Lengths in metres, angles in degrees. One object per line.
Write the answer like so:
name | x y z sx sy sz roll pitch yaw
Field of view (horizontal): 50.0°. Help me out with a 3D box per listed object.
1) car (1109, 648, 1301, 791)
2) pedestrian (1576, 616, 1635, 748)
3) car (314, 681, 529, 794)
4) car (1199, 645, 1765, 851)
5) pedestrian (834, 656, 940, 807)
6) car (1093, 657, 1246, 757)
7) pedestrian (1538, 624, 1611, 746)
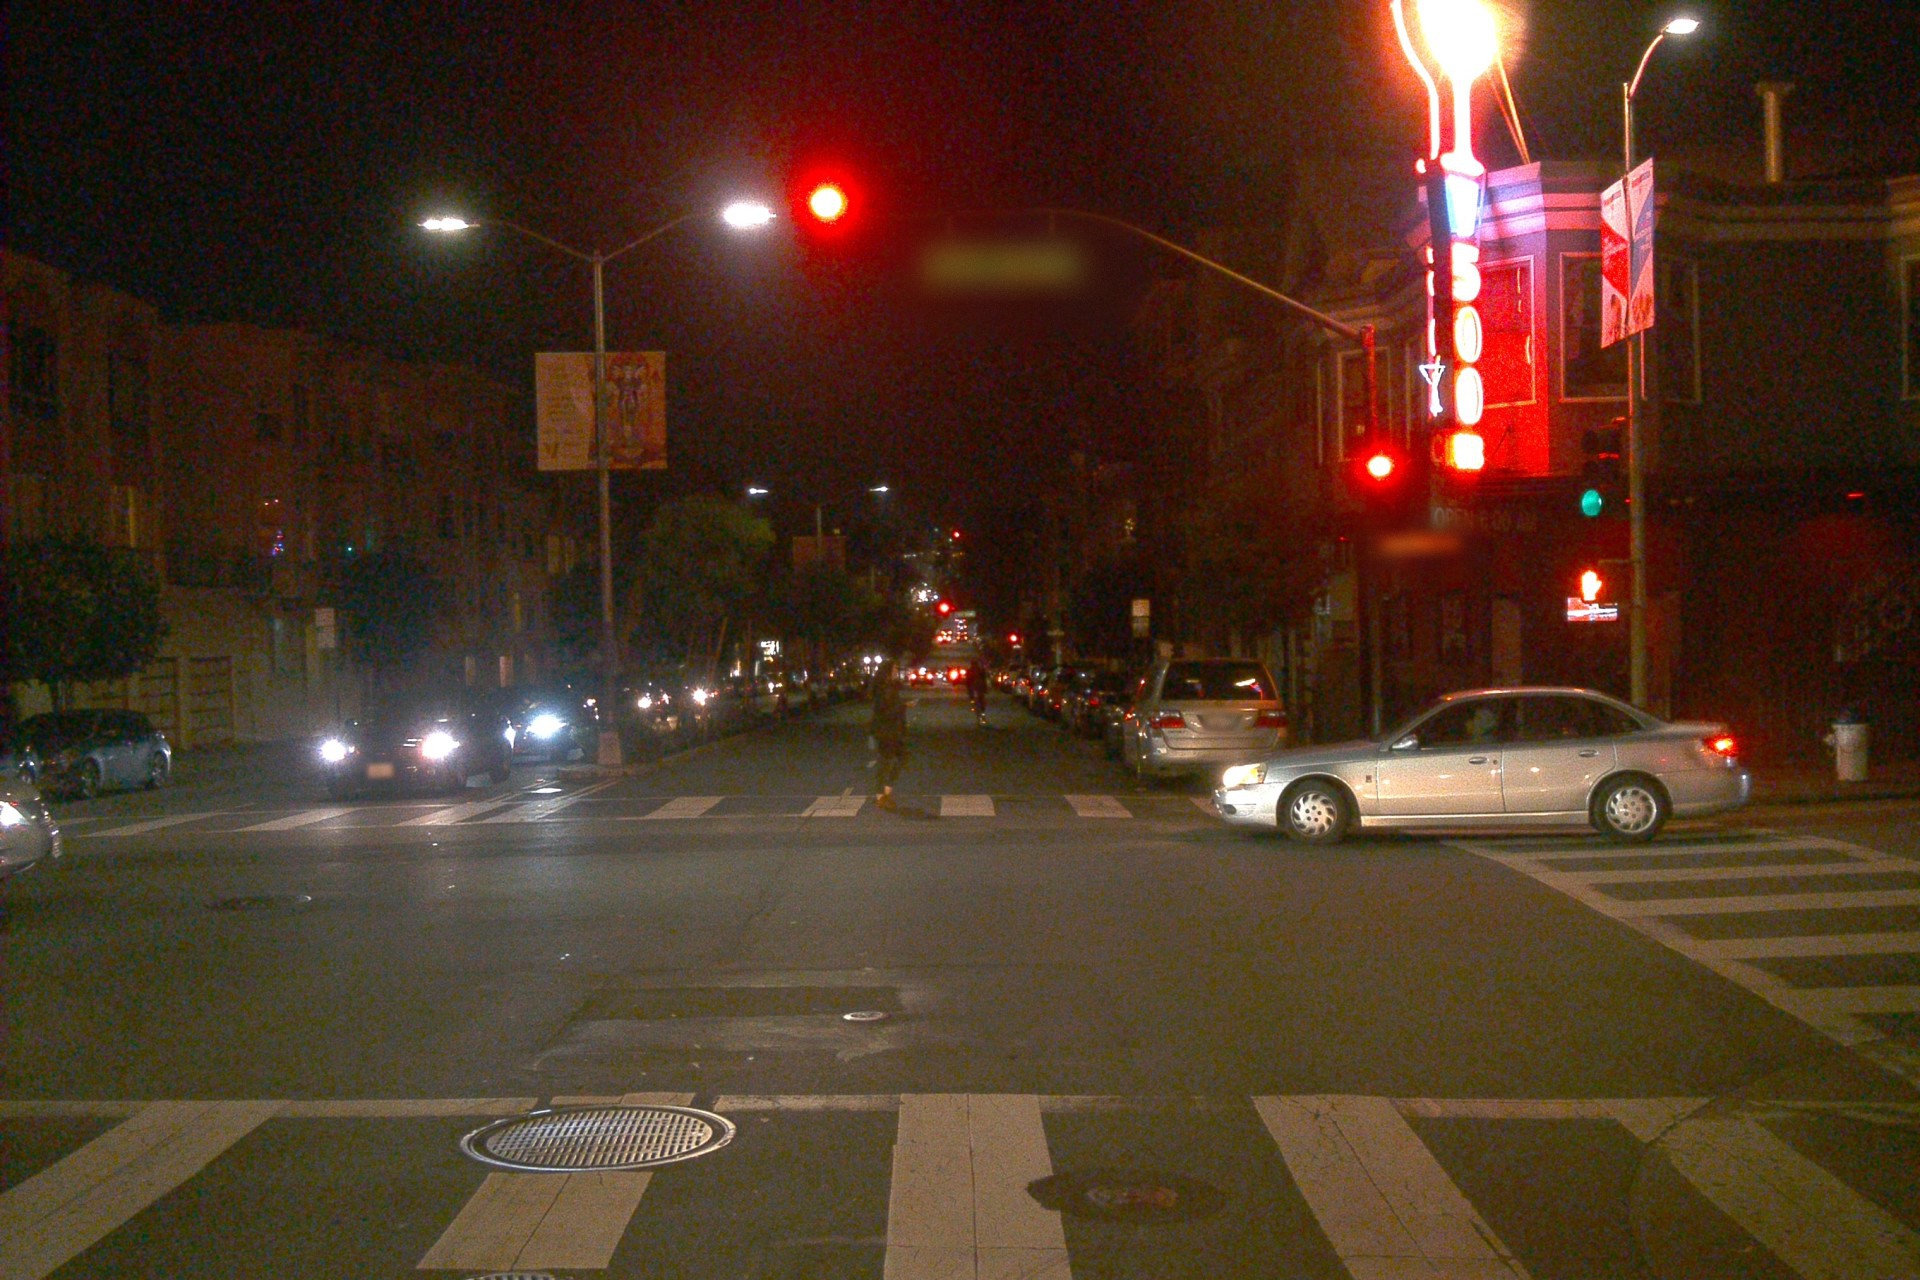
car | 3.288 1.020 28.469 2.087 1.770 4.655 1 0 0
pedestrian | 9.050 0.577 28.828 0.739 1.820 0.628 1 0 20
car | -7.622 1.334 29.552 1.903 1.390 4.511 1 0 0
car | 4.745 0.931 19.163 4.826 1.720 2.135 1 0 11
pedestrian | -0.832 1.043 23.818 1.189 1.690 0.924 1 0 -1
car | 3.322 1.030 33.308 1.810 1.470 4.216 1 0 -3
pedestrian | 8.813 0.643 29.498 0.721 1.720 0.691 1 0 -18
